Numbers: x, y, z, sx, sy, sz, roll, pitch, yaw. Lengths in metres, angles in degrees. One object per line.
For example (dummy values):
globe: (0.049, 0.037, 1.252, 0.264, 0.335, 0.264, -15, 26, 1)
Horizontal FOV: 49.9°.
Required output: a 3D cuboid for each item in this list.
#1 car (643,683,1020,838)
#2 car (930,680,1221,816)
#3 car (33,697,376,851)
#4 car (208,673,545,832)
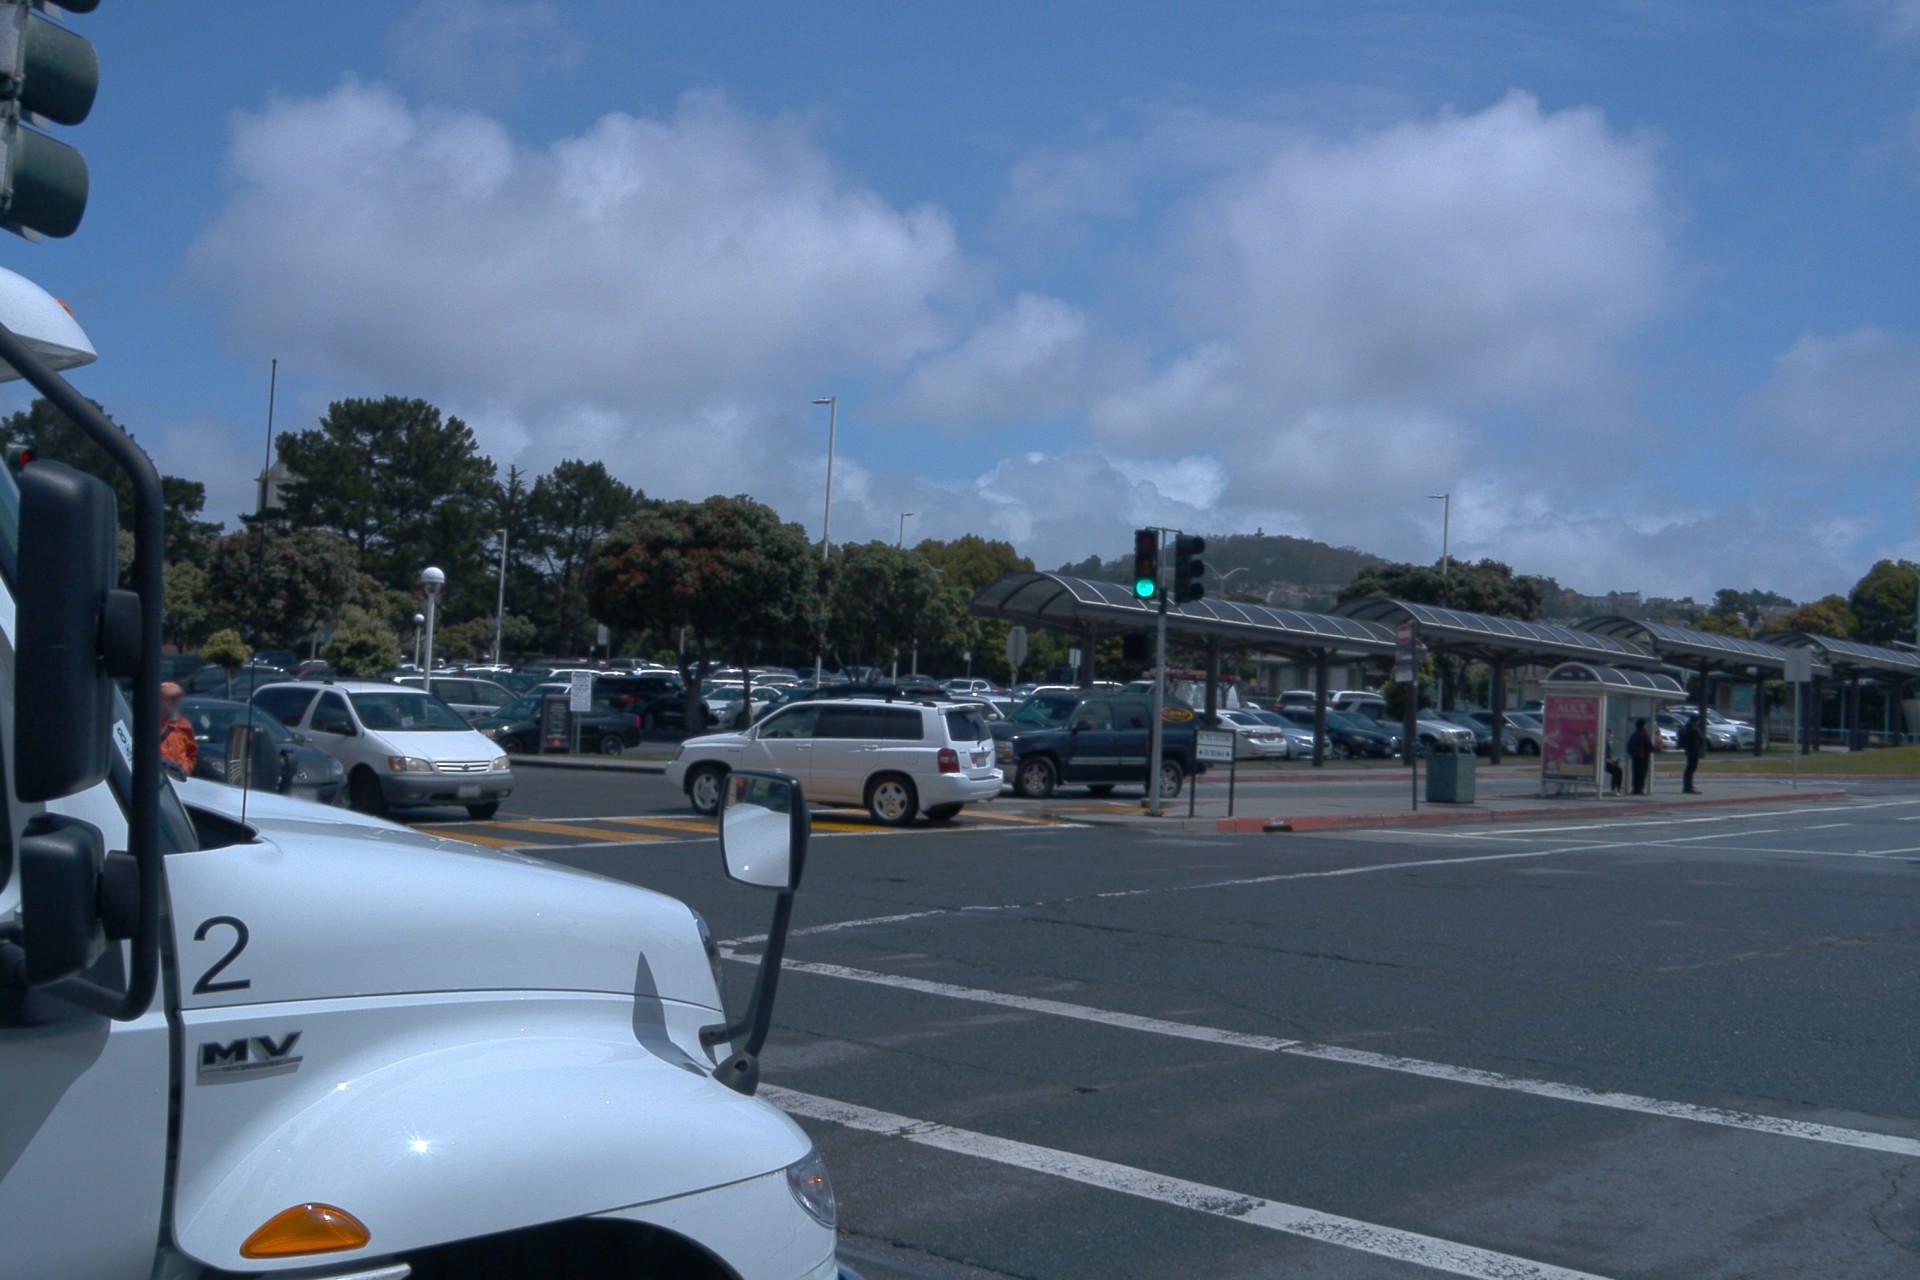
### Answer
car: (-1.739, 1.575, 28.079, 4.649, 1.850, 2.102, 0, 1, 23)
car: (2.079, 1.826, 36.353, 4.907, 2.087, 2.145, -1, 1, -38)
car: (-8.851, 1.481, 24.018, 4.356, 1.450, 1.969, 1, 1, 43)
car: (-7.599, 1.369, 26.663, 4.587, 1.750, 2.034, 1, 1, 42)
